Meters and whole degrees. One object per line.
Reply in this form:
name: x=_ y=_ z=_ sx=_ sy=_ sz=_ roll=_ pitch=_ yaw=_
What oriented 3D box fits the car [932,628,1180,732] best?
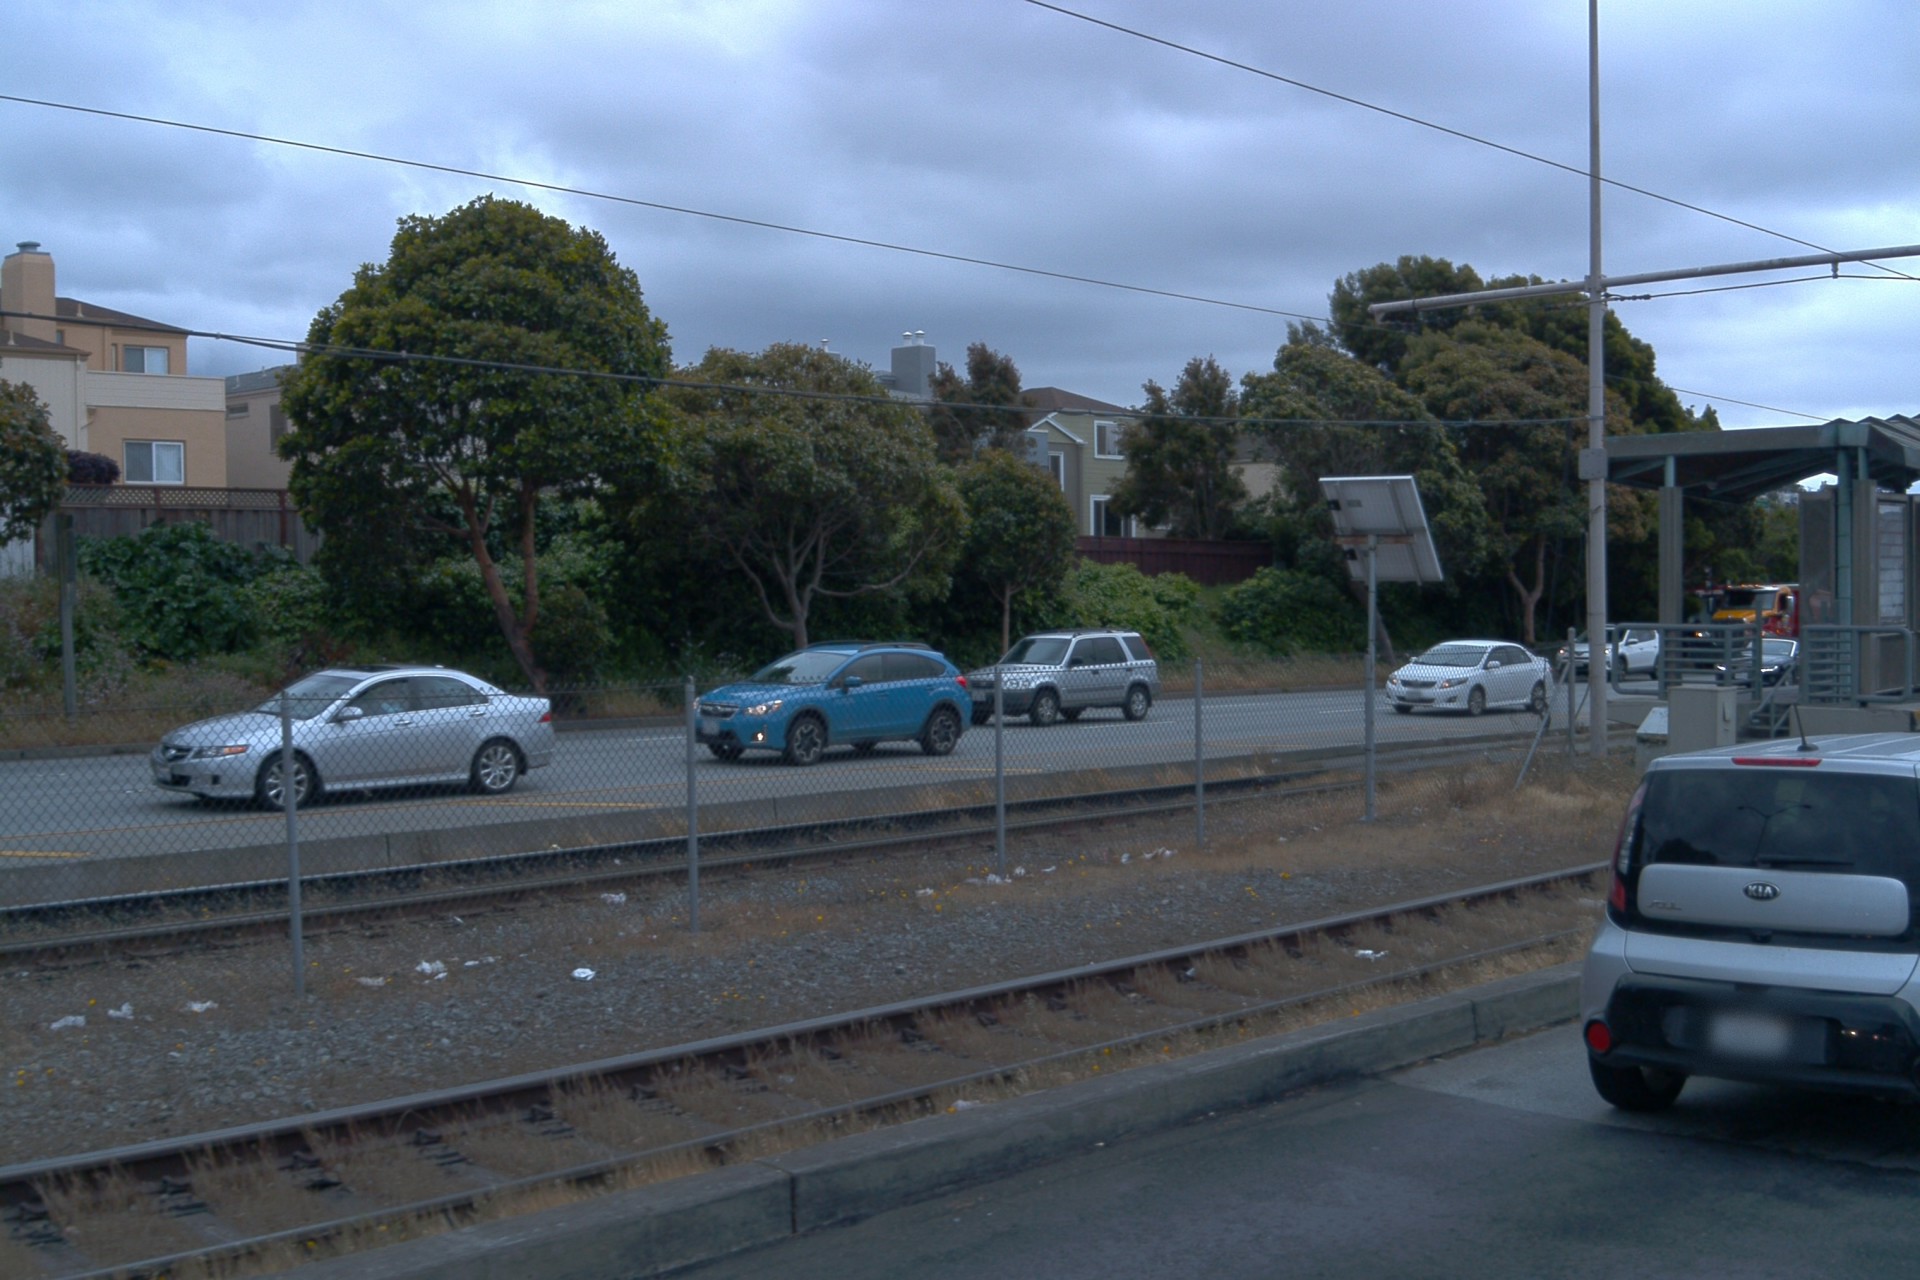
car: x=1.775 y=0.658 z=36.847 sx=1.966 sy=1.700 sz=4.528 roll=1 pitch=1 yaw=43

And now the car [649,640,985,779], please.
car: x=-1.879 y=0.875 z=28.276 sx=1.975 sy=1.690 sz=4.425 roll=1 pitch=1 yaw=43

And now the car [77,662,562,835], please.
car: x=-6.783 y=1.067 z=22.257 sx=1.916 sy=1.550 sz=4.655 roll=1 pitch=1 yaw=42
